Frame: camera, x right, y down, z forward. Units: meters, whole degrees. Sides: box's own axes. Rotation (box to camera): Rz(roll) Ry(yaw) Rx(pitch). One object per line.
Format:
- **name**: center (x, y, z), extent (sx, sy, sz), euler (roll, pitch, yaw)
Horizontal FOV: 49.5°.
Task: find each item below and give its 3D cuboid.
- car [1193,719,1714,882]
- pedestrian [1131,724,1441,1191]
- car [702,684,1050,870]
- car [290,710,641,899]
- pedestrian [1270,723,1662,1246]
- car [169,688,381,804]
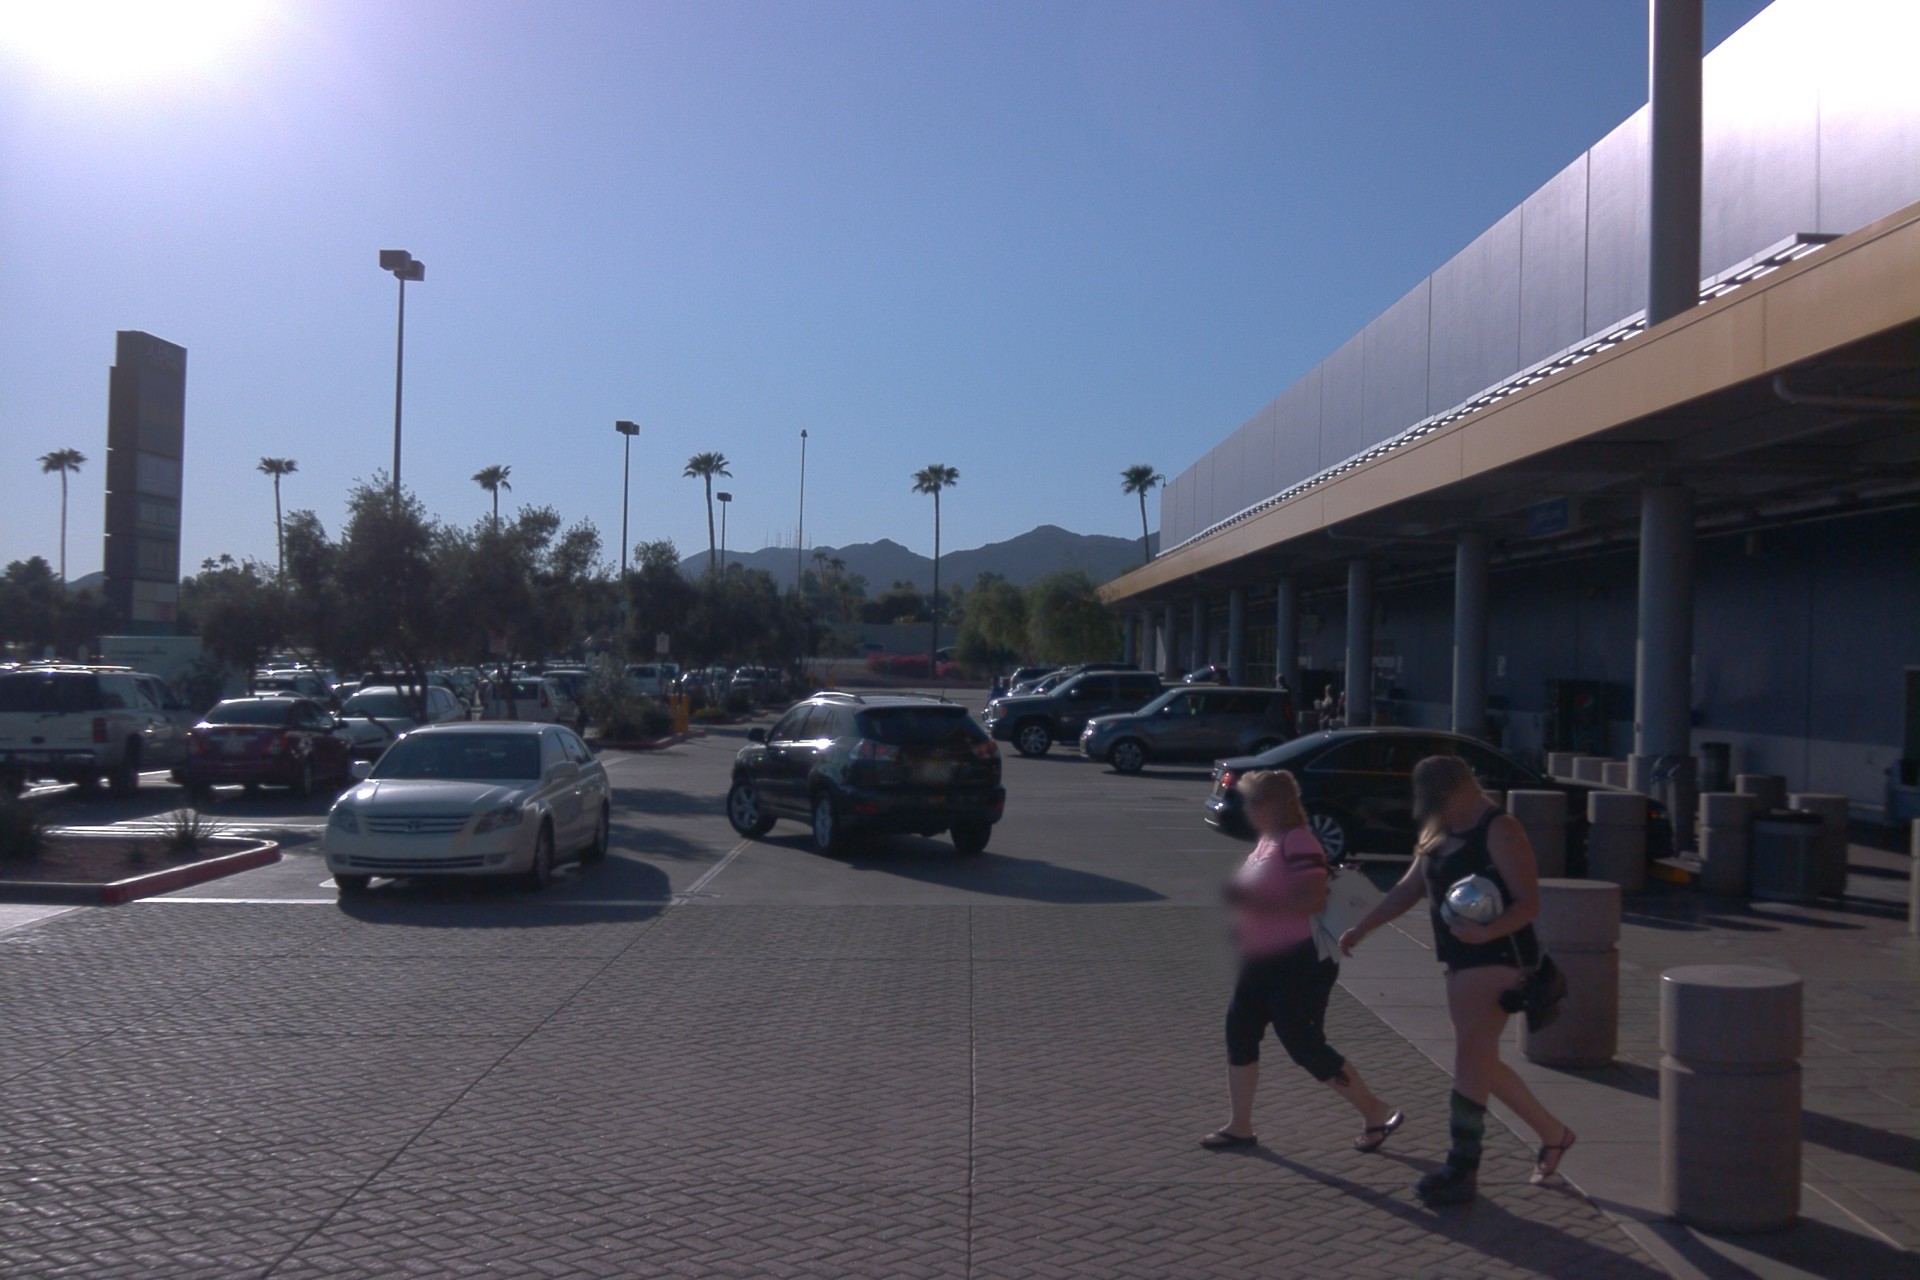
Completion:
- **car**: center (4.895, 1.594, 21.198), extent (4.792, 1.460, 2.078), euler (1, 0, 0)
- **pedestrian**: center (1.347, 1.279, 8.791), extent (1.000, 1.810, 1.000), euler (1, 0, -10)
- **car**: center (-1.061, 1.411, 23.036), extent (2.198, 1.770, 4.577), euler (1, -1, -26)
- **car**: center (-4.519, 1.458, 19.898), extent (2.148, 1.440, 4.950), euler (1, -1, 0)
- **pedestrian**: center (1.911, 1.252, 7.991), extent (1.137, 1.830, 0.949), euler (1, 0, -12)
- **car**: center (-10.435, 1.572, 32.024), extent (1.866, 1.580, 4.286), euler (1, 0, 0)
